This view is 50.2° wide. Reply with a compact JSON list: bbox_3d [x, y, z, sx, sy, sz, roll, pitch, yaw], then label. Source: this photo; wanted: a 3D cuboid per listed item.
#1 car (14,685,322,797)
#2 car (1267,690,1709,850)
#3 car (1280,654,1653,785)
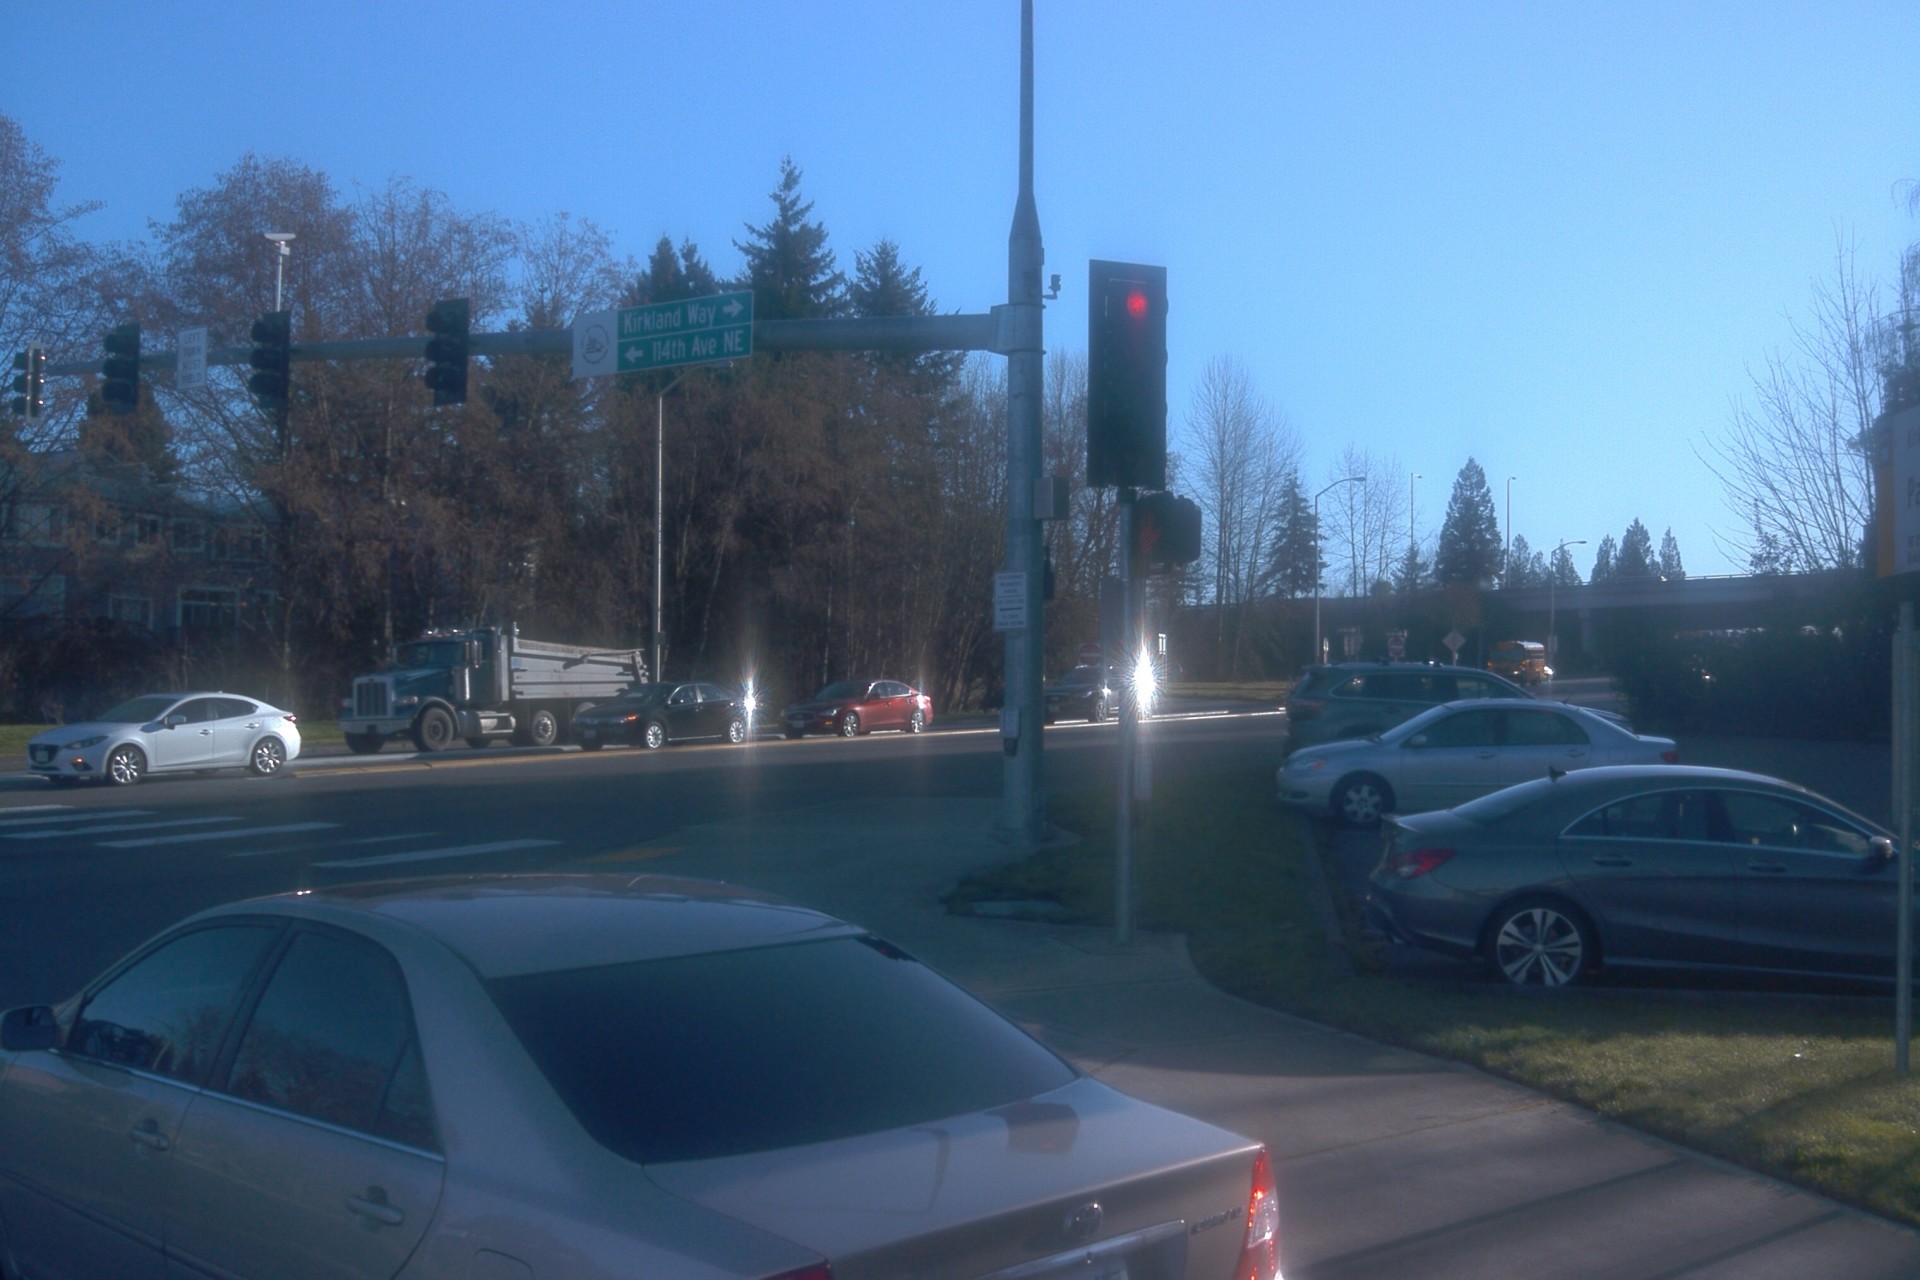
[{"bbox_3d":[-12.888,1.596,33.589,2.012,1.570,4.383,1,1,32],"label":"car"},{"bbox_3d":[5.908,1.441,23.459,4.657,1.620,2.051,0,0,7],"label":"car"},{"bbox_3d":[7.007,1.076,28.821,4.869,1.700,2.043,0,0,7],"label":"car"}]
